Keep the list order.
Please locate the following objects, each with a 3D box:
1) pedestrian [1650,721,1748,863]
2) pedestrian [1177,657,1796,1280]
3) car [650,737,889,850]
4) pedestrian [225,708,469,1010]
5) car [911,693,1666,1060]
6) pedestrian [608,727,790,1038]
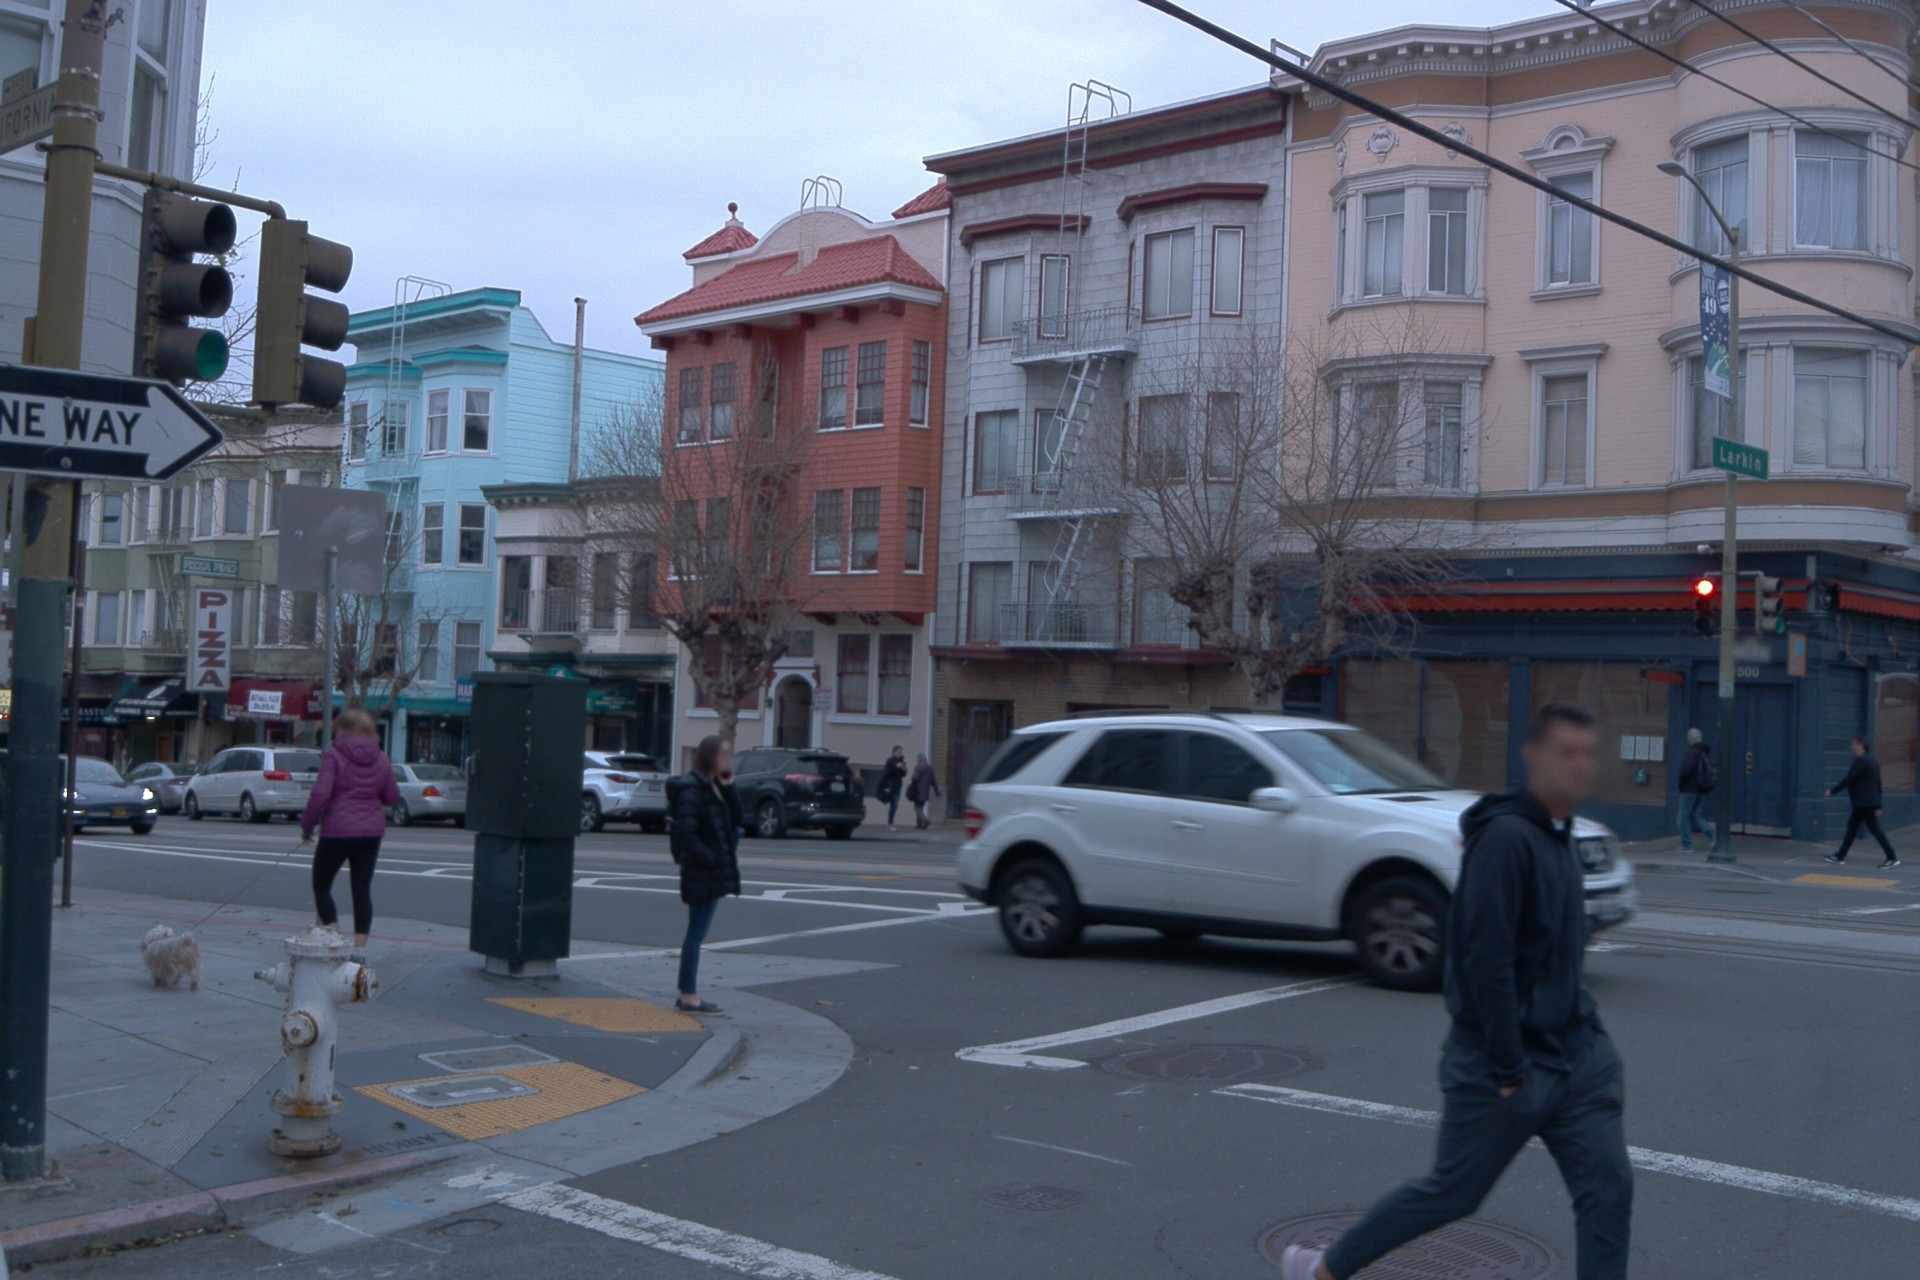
[{"bbox_3d":[10.695,2.179,29.887,0.772,1.930,1.100,-1,1,-44],"label":"pedestrian"},{"bbox_3d":[1.443,1.100,5.757,1.453,2.066,0.820,1,1,40],"label":"pedestrian"},{"bbox_3d":[-3.623,2.827,38.769,4.423,1.700,2.100,1,1,44],"label":"car"},{"bbox_3d":[-3.708,1.269,12.476,1.180,1.640,0.944,1,1,43],"label":"pedestrian"},{"bbox_3d":[2.139,1.441,14.457,4.831,1.930,2.166,1,1,43],"label":"car"},{"bbox_3d":[-1.540,1.392,12.163,0.846,1.692,0.707,-1,1,-32],"label":"pedestrian"}]
